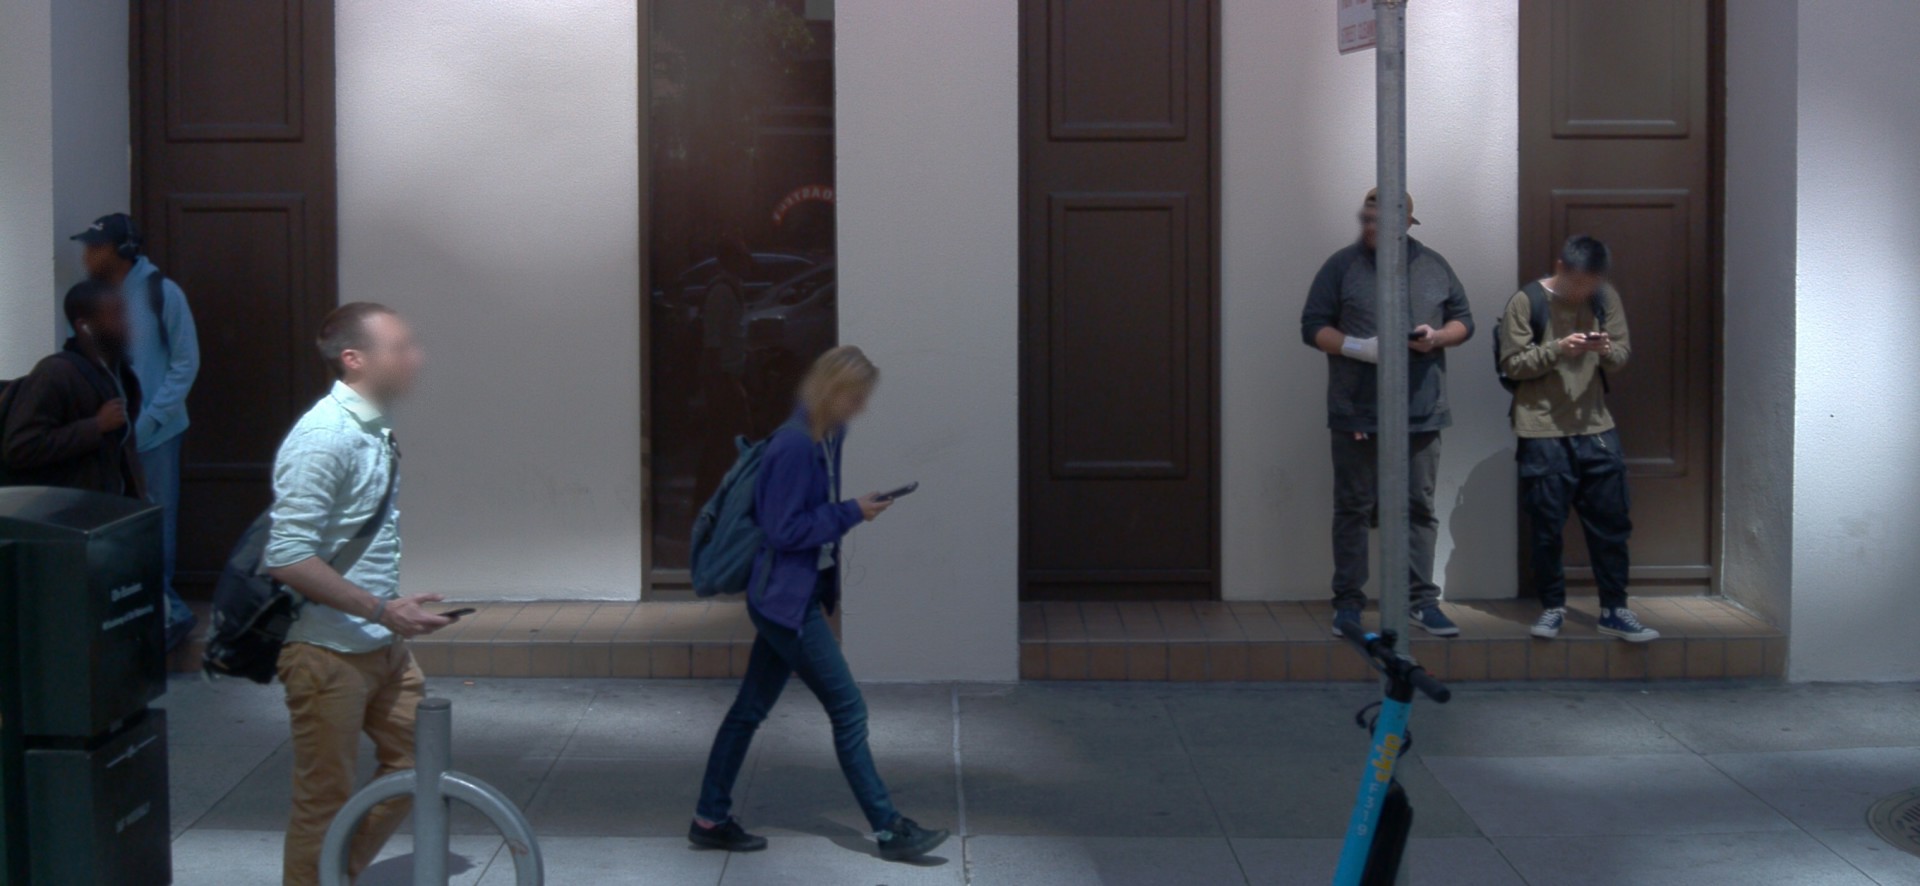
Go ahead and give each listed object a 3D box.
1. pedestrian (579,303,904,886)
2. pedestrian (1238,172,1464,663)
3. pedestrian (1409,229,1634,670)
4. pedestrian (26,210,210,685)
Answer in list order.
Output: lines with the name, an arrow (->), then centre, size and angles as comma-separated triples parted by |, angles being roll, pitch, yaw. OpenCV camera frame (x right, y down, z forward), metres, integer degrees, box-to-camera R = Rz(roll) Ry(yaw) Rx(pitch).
pedestrian -> -0.649, 0.445, 6.368 | 0.894, 1.735, 0.741 | 0, 1, 3
pedestrian -> 1.614, -0.144, 8.605 | 0.770, 1.952, 0.854 | 0, 1, -1
pedestrian -> 2.315, -0.018, 8.549 | 0.697, 1.743, 0.833 | 0, 1, -1
pedestrian -> -3.473, -0.010, 8.510 | 0.538, 1.902, 0.554 | 0, 1, -1
